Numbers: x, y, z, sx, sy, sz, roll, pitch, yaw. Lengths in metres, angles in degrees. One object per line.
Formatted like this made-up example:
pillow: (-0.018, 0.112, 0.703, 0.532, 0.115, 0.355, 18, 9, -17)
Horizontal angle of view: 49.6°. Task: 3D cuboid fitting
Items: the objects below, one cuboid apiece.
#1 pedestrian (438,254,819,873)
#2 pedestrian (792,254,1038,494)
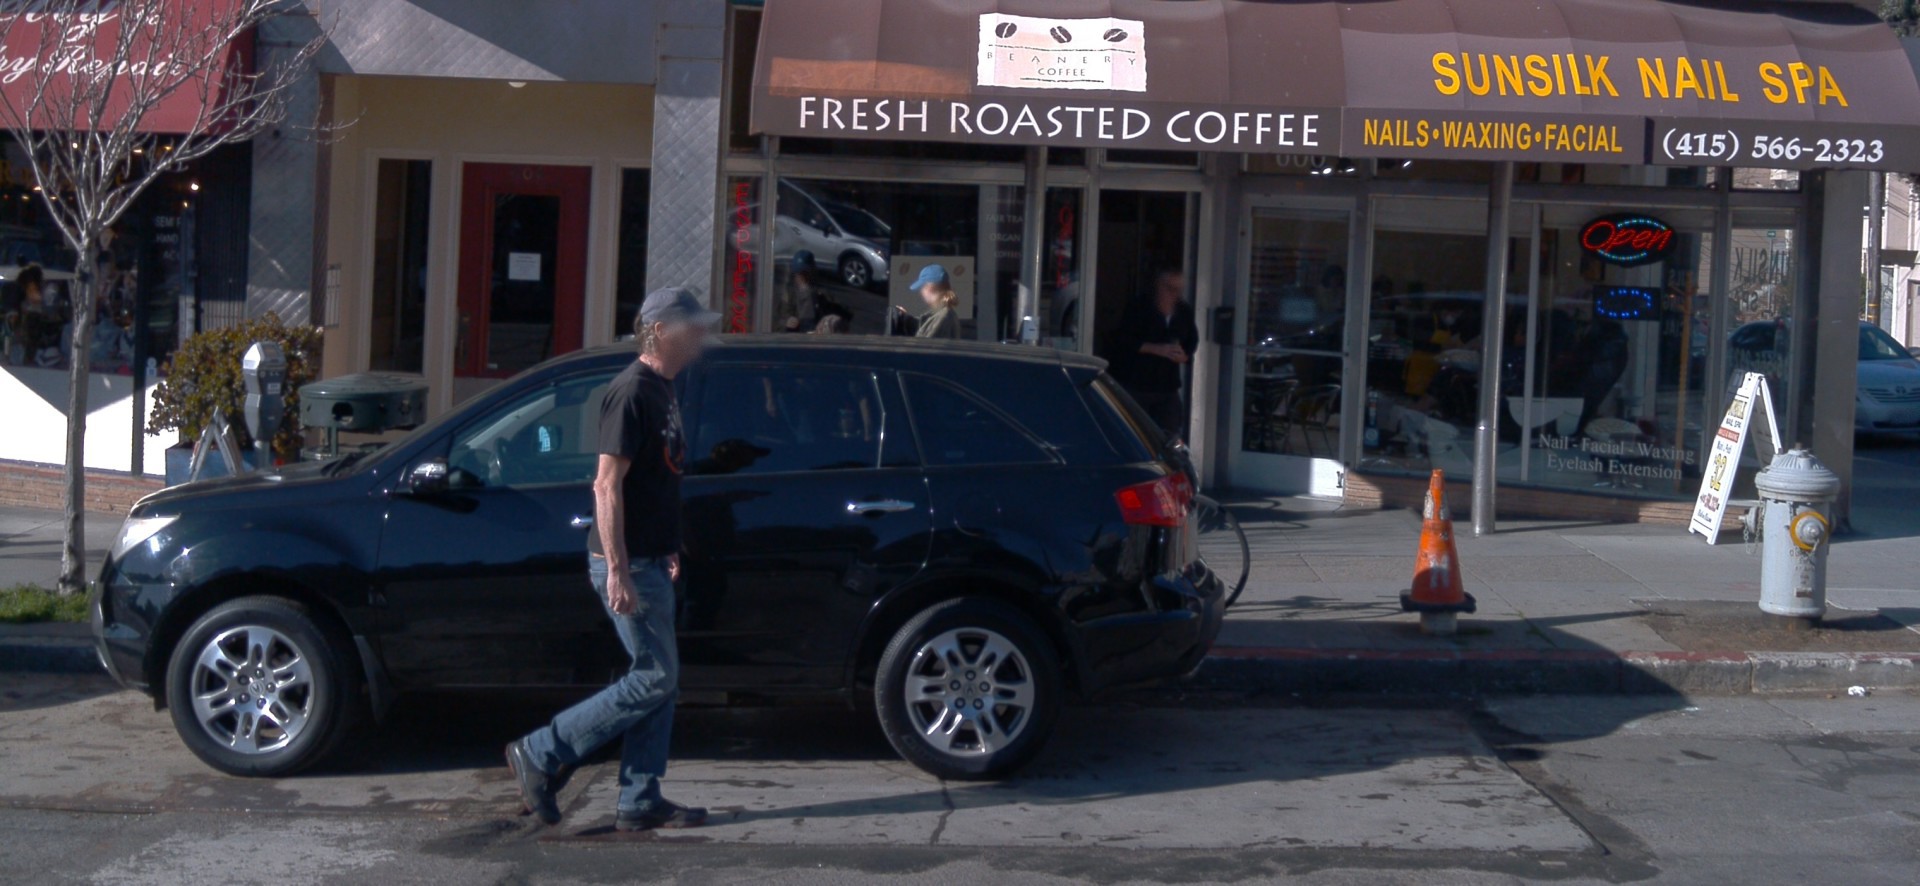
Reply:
pedestrian: (-1.118, 0.363, 7.266, 1.192, 2.006, 0.876, 1, 2, -3)
pedestrian: (-0.290, -0.490, 13.671, 1.333, 1.457, 0.886, 3, 3, 27)
